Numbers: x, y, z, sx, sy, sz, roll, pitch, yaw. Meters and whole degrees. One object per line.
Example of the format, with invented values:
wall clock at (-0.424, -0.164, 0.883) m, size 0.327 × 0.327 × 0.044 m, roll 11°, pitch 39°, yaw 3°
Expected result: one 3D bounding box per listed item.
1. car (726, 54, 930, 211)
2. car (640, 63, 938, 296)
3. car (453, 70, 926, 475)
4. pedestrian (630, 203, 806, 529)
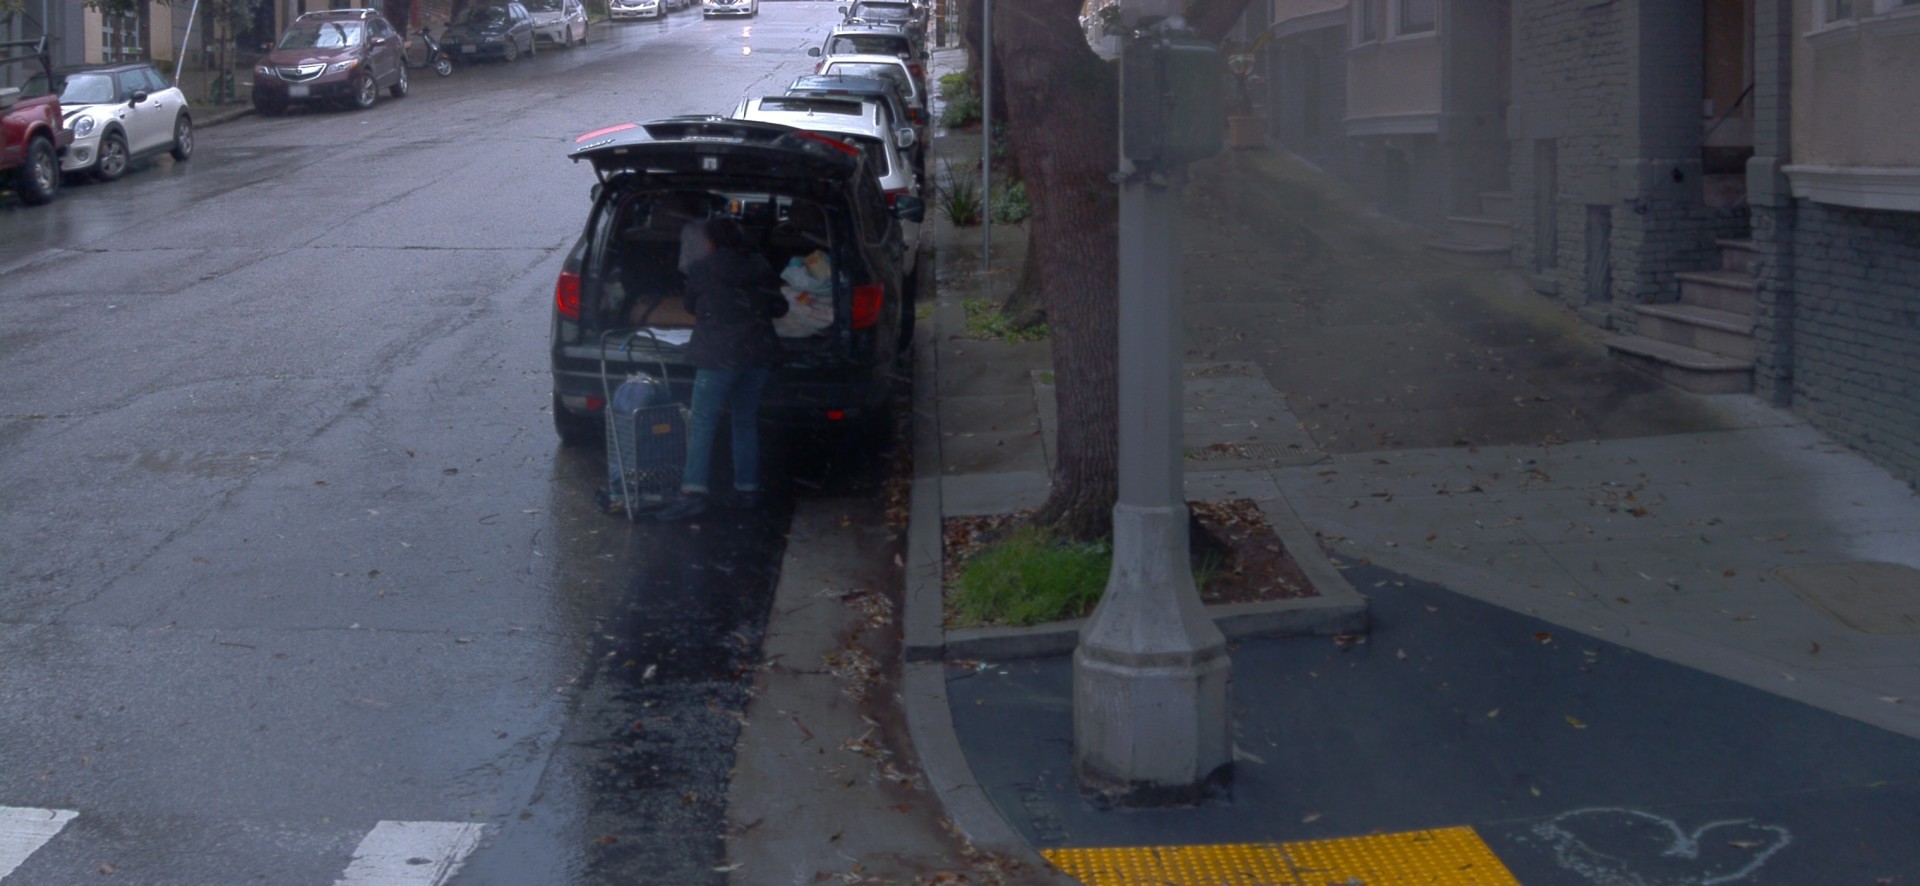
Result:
car at (-1.455, -3.599, 24.300) m, size 2.103 × 1.604 × 4.561 m, roll 0°, pitch 5°, yaw 0°
car at (-1.480, -2.326, 18.629) m, size 2.348 × 1.833 × 4.711 m, roll 0°, pitch 5°, yaw -3°
car at (-1.461, -1.143, 13.246) m, size 2.376 × 2.032 × 5.725 m, roll 0°, pitch 5°, yaw -2°
pedestrian at (-1.287, -0.436, 10.767) m, size 0.793 × 1.633 × 0.887 m, roll 0°, pitch 1°, yaw -15°
